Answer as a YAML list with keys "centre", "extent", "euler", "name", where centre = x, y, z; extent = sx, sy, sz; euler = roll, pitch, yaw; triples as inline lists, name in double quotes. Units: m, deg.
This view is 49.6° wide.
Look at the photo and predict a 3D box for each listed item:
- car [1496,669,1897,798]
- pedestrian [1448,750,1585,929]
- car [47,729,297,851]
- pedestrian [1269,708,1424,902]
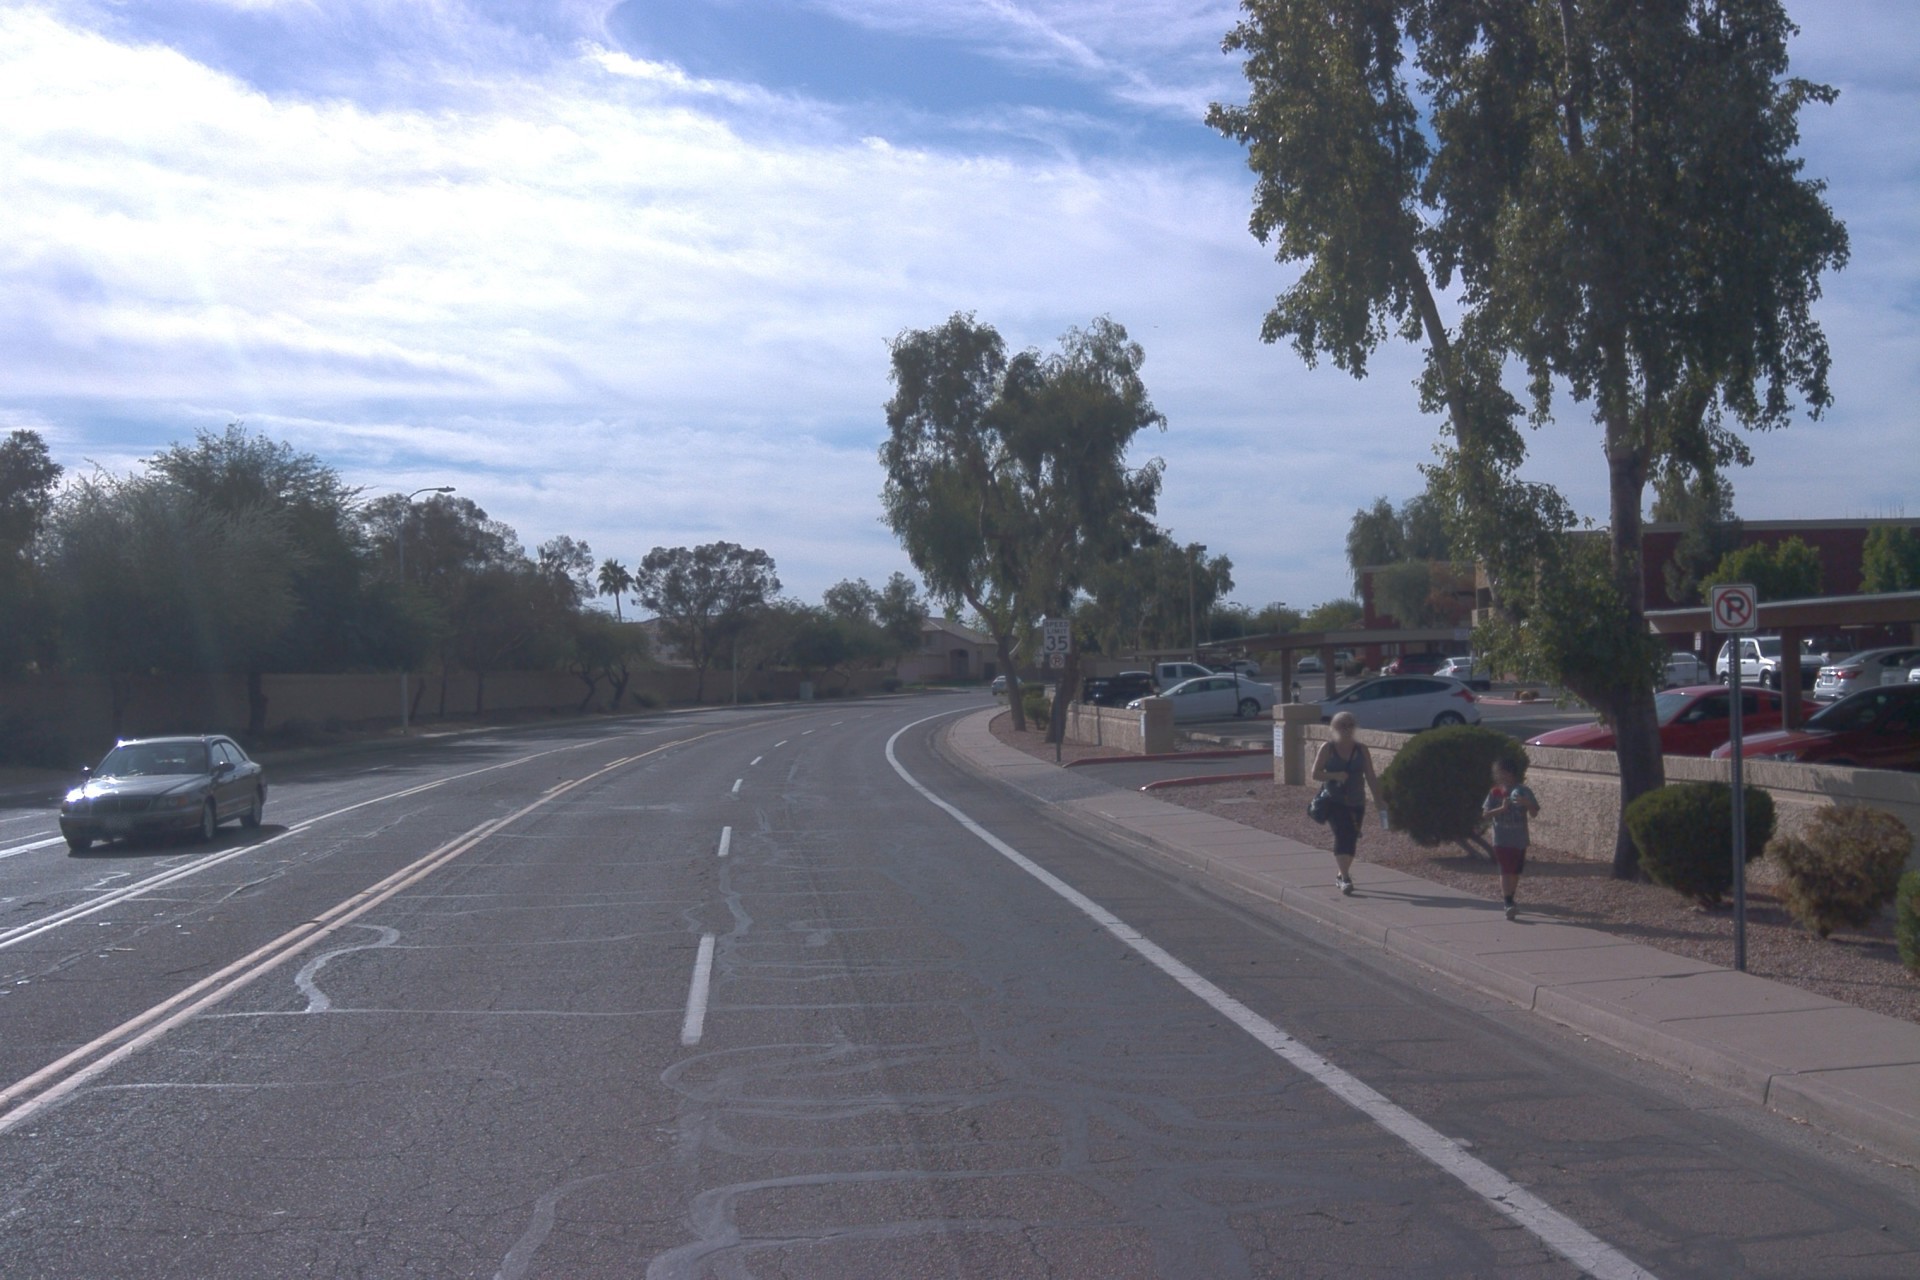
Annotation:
- centre: [10.147, 1.272, 28.852]
  extent: [4.771, 1.700, 2.191]
  euler: [0, -1, -8]
  name: "car"
- centre: [4.324, 1.533, 16.195]
  extent: [0.801, 1.330, 0.777]
  euler: [0, -1, -6]
  name: "pedestrian"
- centre: [-10.808, 2.016, 28.919]
  extent: [2.075, 1.440, 4.756]
  euler: [0, -1, -6]
  name: "car"
- centre: [3.433, 1.442, 18.556]
  extent: [1.022, 1.660, 1.111]
  euler: [0, -1, -11]
  name: "pedestrian"
